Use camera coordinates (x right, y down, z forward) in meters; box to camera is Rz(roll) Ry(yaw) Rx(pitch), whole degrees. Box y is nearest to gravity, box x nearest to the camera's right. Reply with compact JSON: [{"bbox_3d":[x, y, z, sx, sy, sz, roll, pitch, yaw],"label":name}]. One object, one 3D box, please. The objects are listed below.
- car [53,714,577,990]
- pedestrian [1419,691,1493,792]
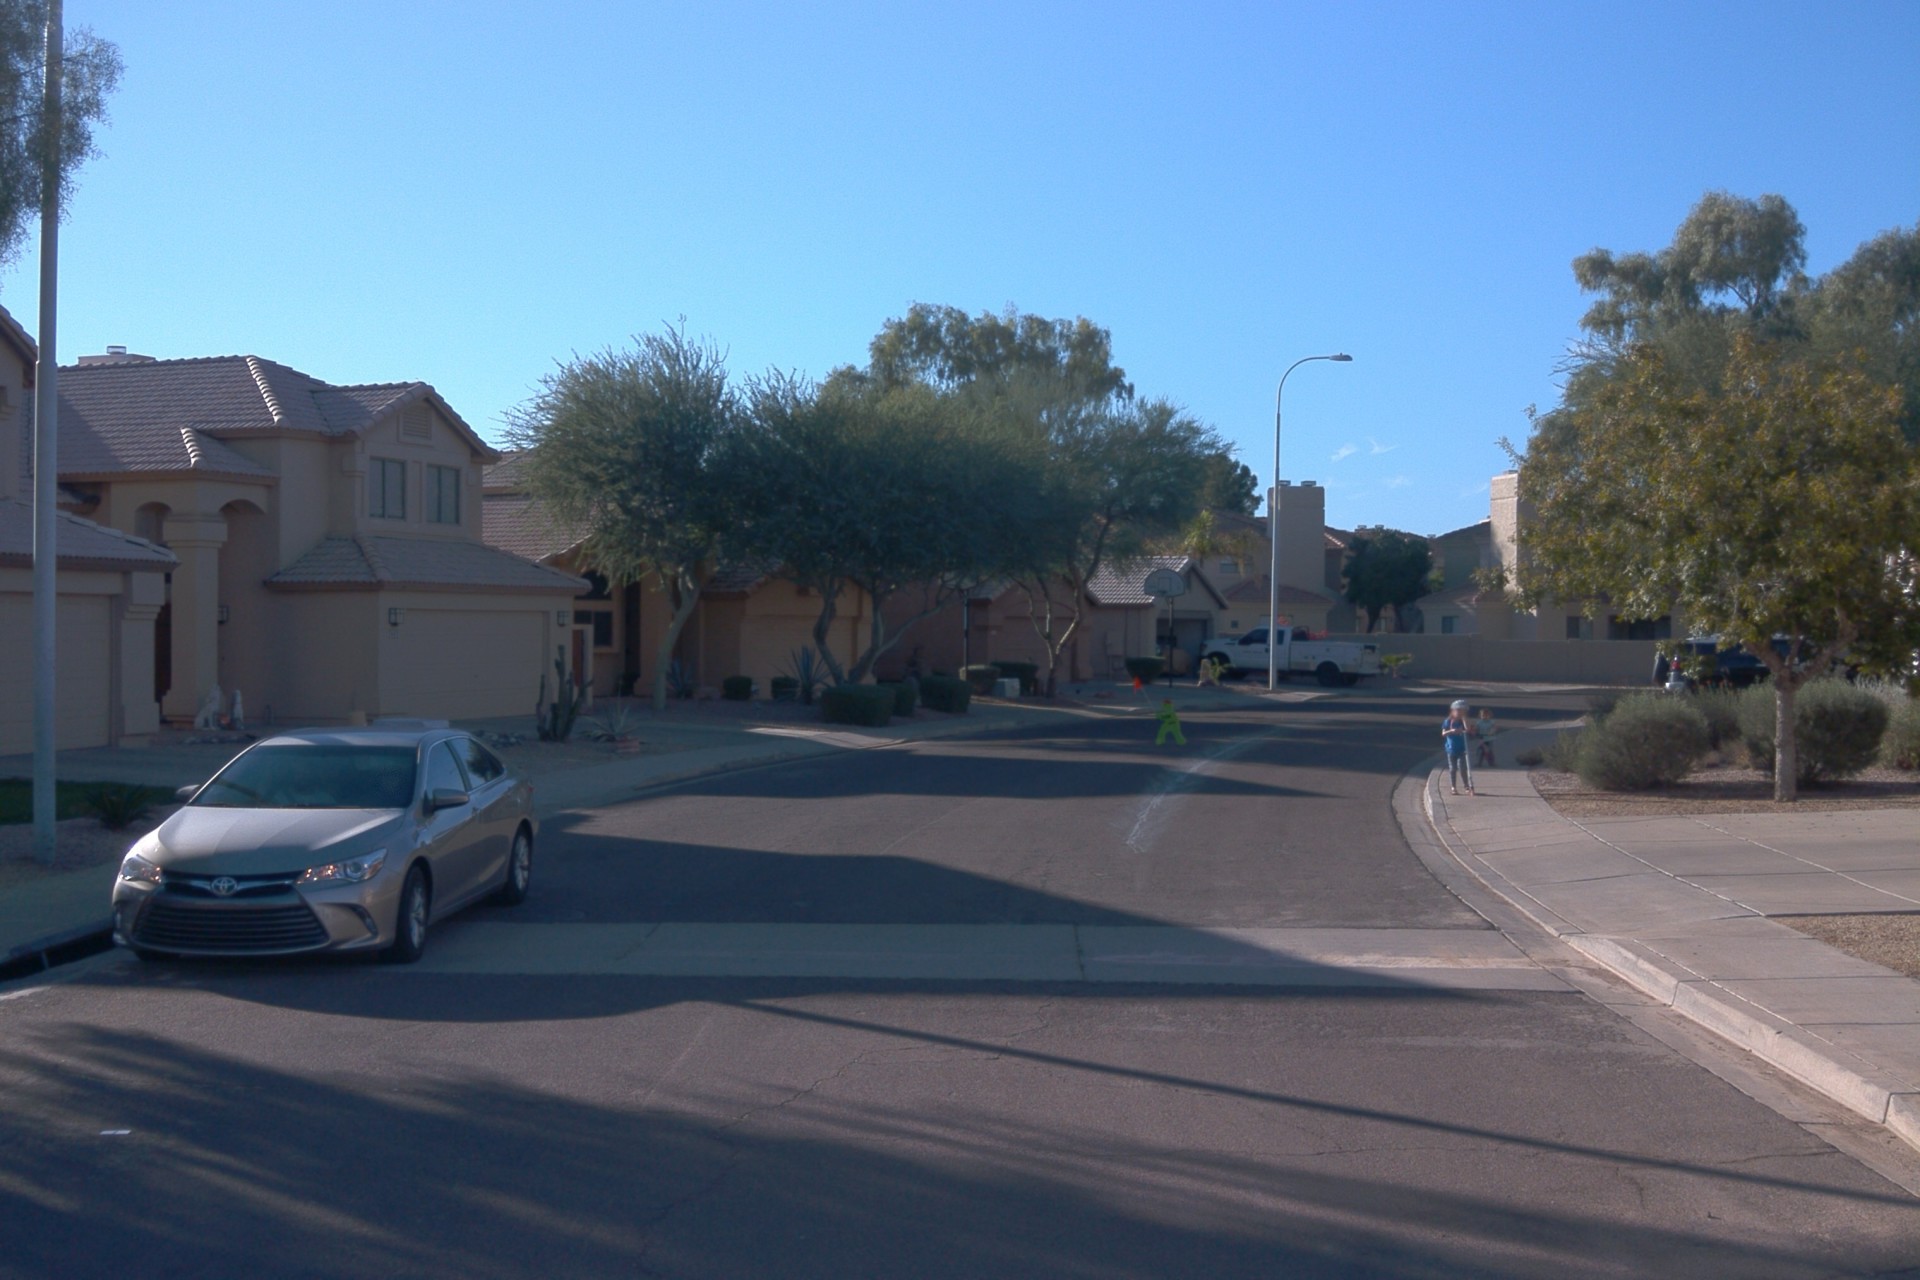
[{"bbox_3d":[-4.372,1.369,15.062,2.188,1.510,4.864,0,0,2],"label":"car"},{"bbox_3d":[6.294,1.279,26.419,0.543,1.230,1.166,0,0,-6],"label":"pedestrian"}]
